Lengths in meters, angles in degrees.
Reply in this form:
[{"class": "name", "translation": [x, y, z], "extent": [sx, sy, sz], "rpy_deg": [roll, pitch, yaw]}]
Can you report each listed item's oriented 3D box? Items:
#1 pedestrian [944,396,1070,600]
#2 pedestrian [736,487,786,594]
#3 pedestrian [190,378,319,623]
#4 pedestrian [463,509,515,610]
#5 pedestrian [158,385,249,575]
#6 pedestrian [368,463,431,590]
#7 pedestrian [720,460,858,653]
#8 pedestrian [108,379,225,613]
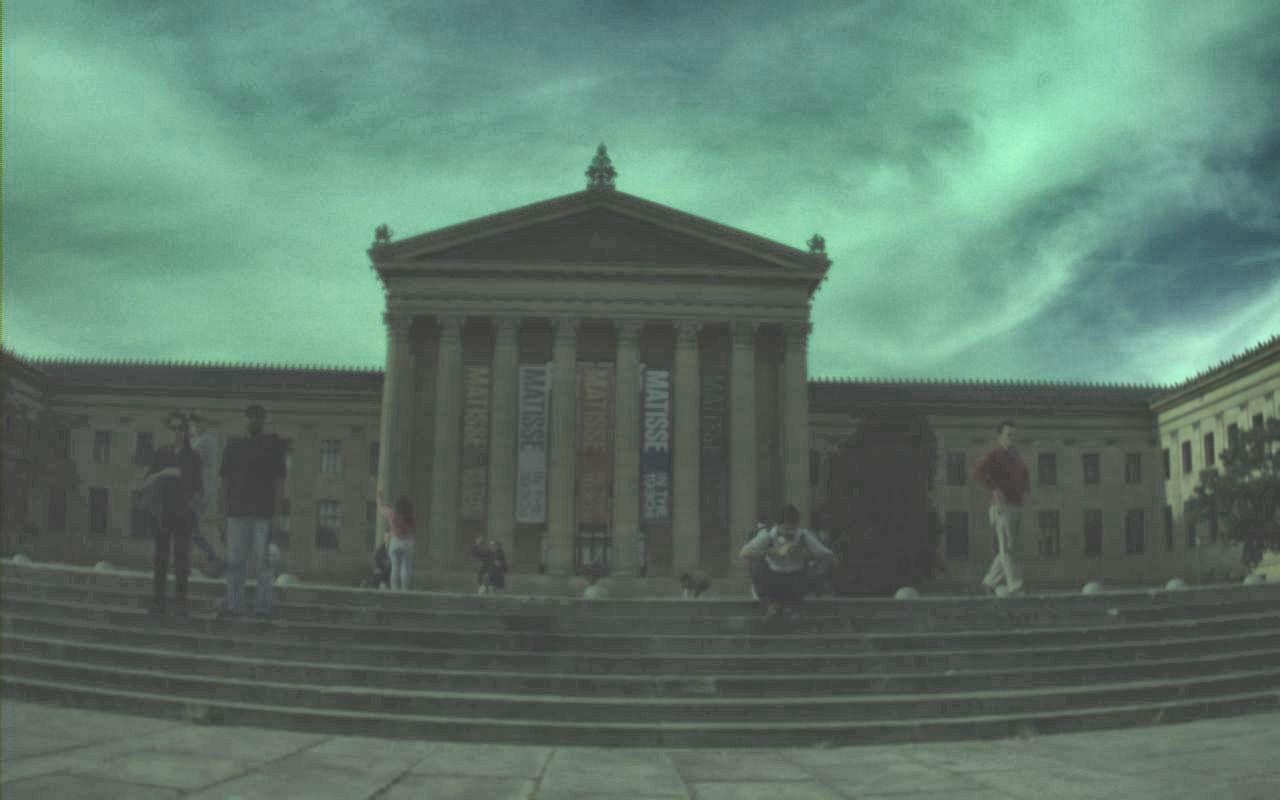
[{"class": "pedestrian", "translation": [3.487, 0.904, 11.591], "extent": [0.850, 1.847, 0.890], "rpy_deg": [0, 0, -13]}, {"class": "pedestrian", "translation": [2.074, 2.426, 21.621], "extent": [0.770, 1.768, 0.758], "rpy_deg": [0, 0, 0]}, {"class": "pedestrian", "translation": [-2.998, 0.758, 9.371], "extent": [0.779, 1.829, 0.768], "rpy_deg": [0, 0, 4]}, {"class": "pedestrian", "translation": [-2.716, 2.869, 22.394], "extent": [0.782, 1.709, 0.769], "rpy_deg": [0, 0, 6]}, {"class": "pedestrian", "translation": [-4.541, 0.823, 12.379], "extent": [0.757, 1.904, 0.750], "rpy_deg": [0, 0, -1]}, {"class": "pedestrian", "translation": [-3.611, 1.891, 18.531], "extent": [0.755, 1.806, 0.772], "rpy_deg": [0, 0, 5]}, {"class": "pedestrian", "translation": [1.195, 1.228, 10.024], "extent": [0.734, 1.419, 0.804], "rpy_deg": [0, 0, -42]}, {"class": "pedestrian", "translation": [-3.767, 0.749, 9.355], "extent": [0.748, 1.778, 0.744], "rpy_deg": [0, 0, -4]}]
